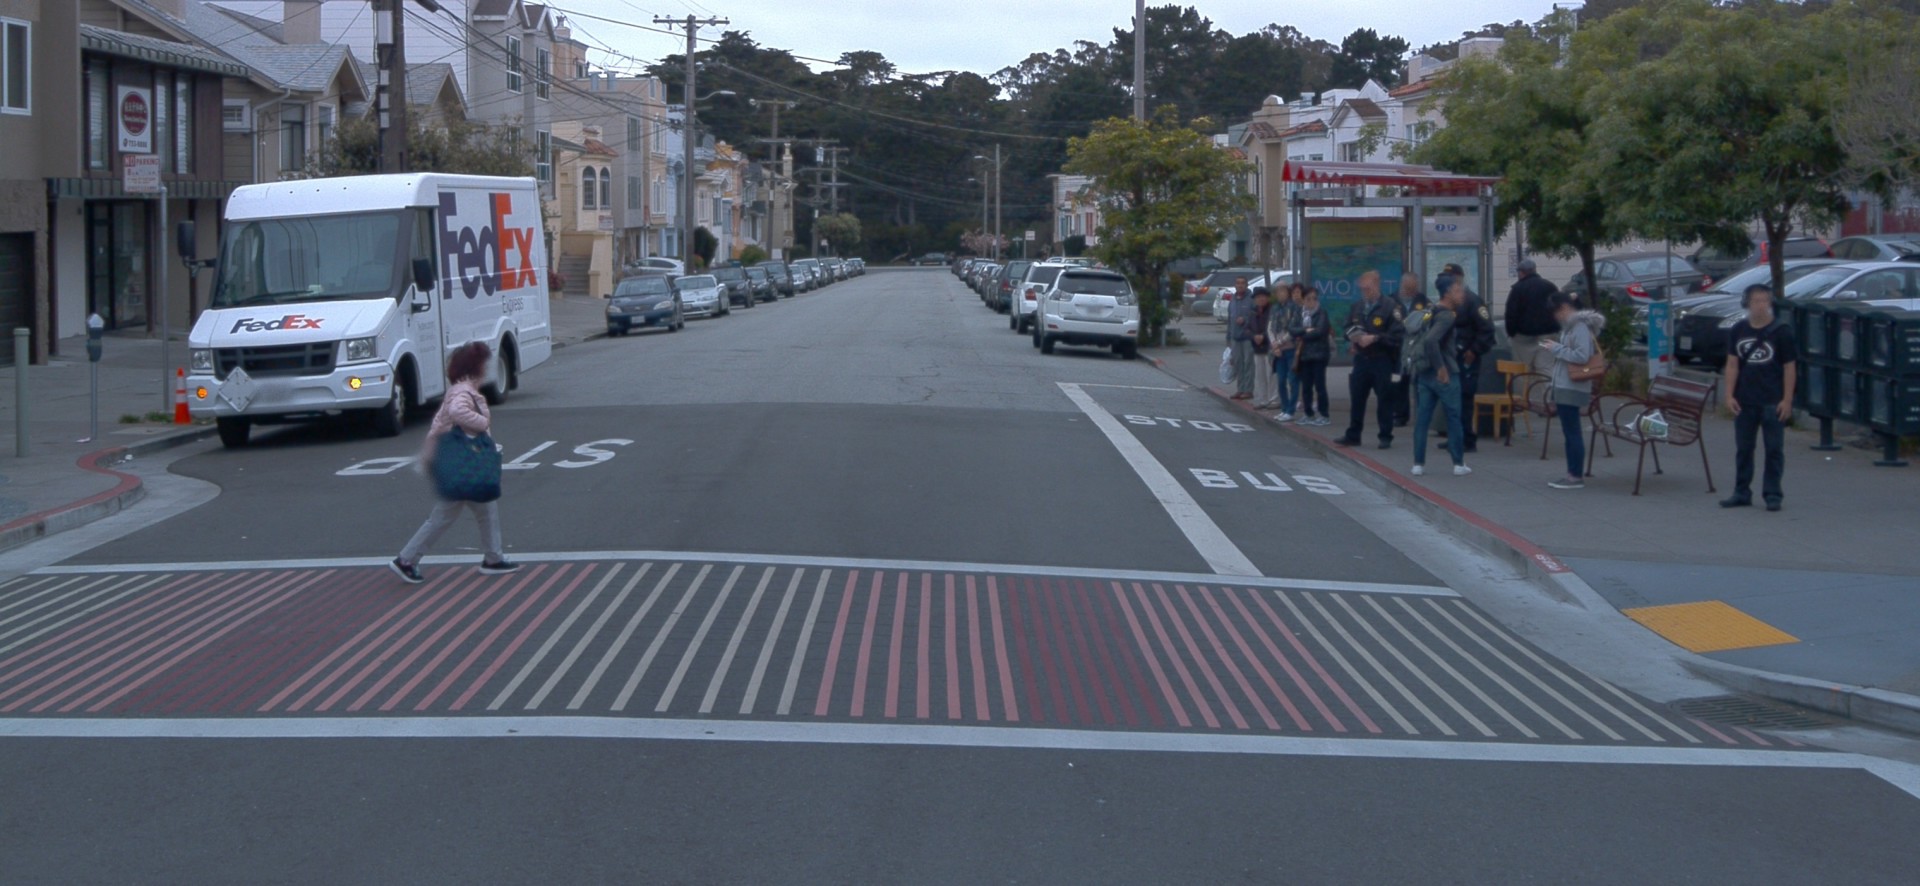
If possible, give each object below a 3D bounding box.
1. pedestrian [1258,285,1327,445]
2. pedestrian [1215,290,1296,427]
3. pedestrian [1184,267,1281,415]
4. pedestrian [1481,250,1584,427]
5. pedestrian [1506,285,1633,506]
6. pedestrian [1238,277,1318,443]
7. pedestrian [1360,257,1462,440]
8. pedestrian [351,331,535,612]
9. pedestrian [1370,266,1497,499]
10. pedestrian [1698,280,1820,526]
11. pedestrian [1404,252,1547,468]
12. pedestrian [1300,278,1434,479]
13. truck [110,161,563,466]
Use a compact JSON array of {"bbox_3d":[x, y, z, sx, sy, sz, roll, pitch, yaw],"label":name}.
[{"bbox_3d":[3.713,-0.886,22.989,0.683,1.727,0.713,0,2,15],"label":"pedestrian"},{"bbox_3d":[3.642,-1.057,25.446,0.712,1.607,0.683,-2,2,-34],"label":"pedestrian"},{"bbox_3d":[3.605,-1.367,27.268,0.871,1.876,0.924,-2,3,-38],"label":"pedestrian"},{"bbox_3d":[6.448,-1.197,23.273,0.919,1.932,0.830,0,2,-2],"label":"pedestrian"},{"bbox_3d":[4.915,-0.410,16.667,0.665,1.687,0.877,-1,2,-11],"label":"pedestrian"},{"bbox_3d":[3.644,-0.967,23.610,0.758,1.827,0.686,0,2,23],"label":"pedestrian"},{"bbox_3d":[4.905,-1.055,22.382,0.933,1.906,0.850,1,2,23],"label":"pedestrian"},{"bbox_3d":[-3.017,0.128,11.997,0.855,1.476,0.909,-1,3,-26],"label":"pedestrian"},{"bbox_3d":[4.070,-0.548,17.753,0.666,1.906,0.875,-1,2,-25],"label":"pedestrian"},{"bbox_3d":[5.904,-0.324,15.233,0.724,1.727,0.739,1,2,30],"label":"pedestrian"},{"bbox_3d":[4.801,-0.804,19.262,0.994,1.926,0.958,-1,2,-10],"label":"pedestrian"},{"bbox_3d":[3.941,-0.656,19.996,0.815,1.838,0.985,-2,3,-45],"label":"pedestrian"},{"bbox_3d":[-6.915,-1.712,24.196,2.687,3.011,7.391,0,6,3],"label":"truck"}]
